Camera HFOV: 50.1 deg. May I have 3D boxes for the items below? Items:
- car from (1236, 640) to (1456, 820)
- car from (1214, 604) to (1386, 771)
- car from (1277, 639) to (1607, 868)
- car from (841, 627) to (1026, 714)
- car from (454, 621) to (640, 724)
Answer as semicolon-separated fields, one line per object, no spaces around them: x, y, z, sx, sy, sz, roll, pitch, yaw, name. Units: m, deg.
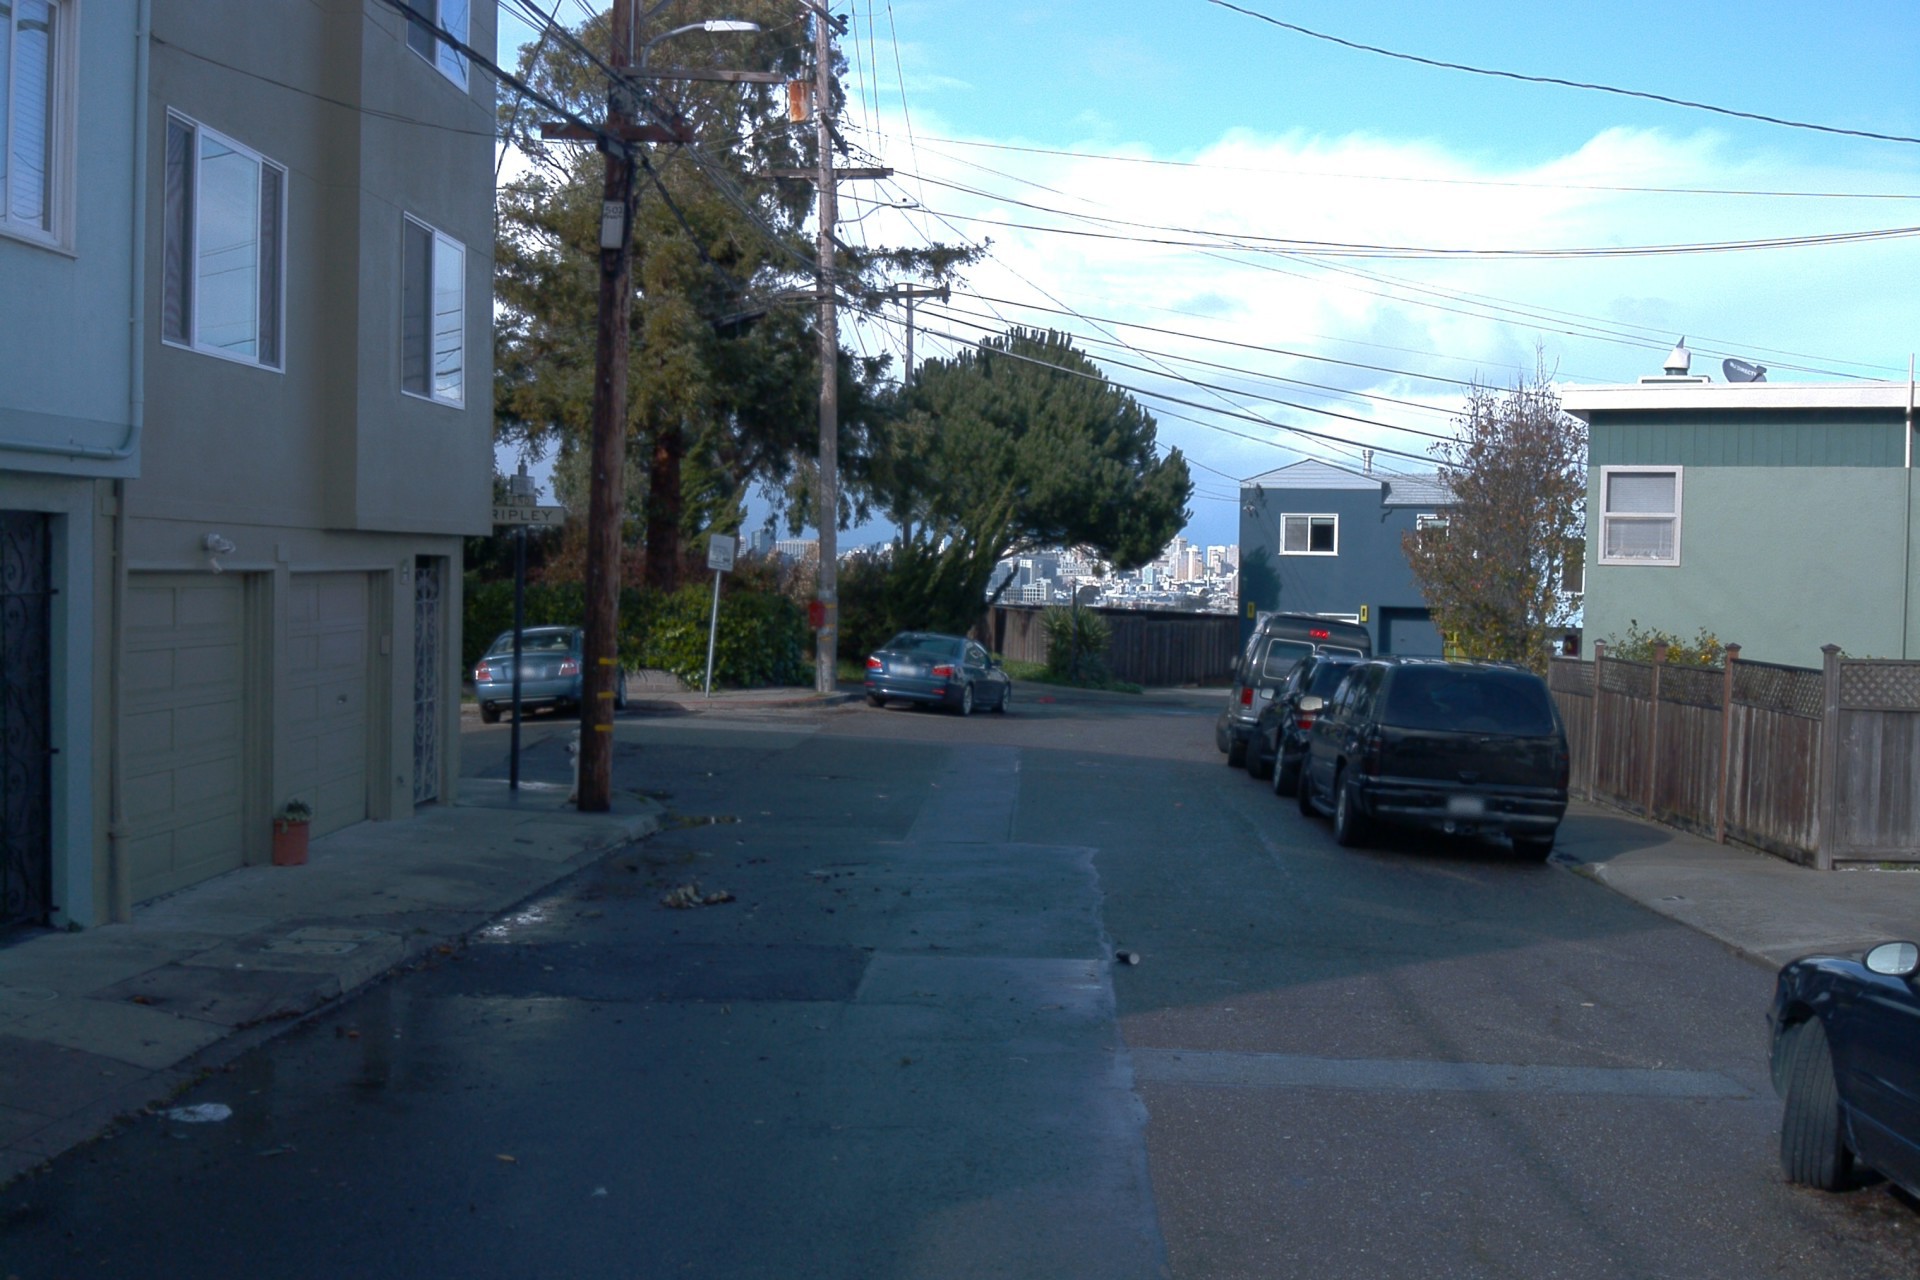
4.769;1.040;26.086;2.071;1.960;4.716;1;1;3;car
5.089;0.621;31.539;2.287;2.280;5.497;1;1;7;car
4.611;0.992;20.576;2.281;1.880;5.115;1;1;3;car
-0.398;0.507;37.904;2.158;1.430;4.594;1;1;16;car
-6.393;0.456;32.332;1.906;1.450;4.515;1;1;1;car
